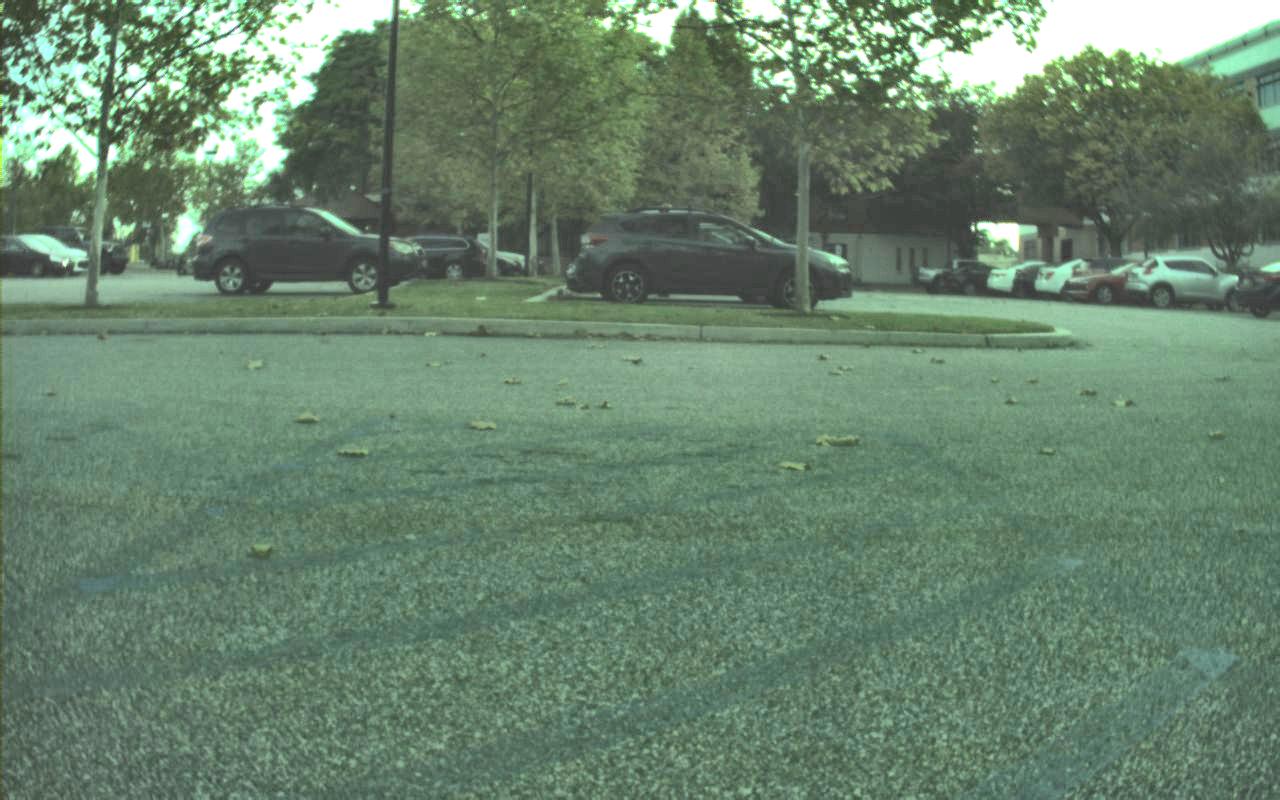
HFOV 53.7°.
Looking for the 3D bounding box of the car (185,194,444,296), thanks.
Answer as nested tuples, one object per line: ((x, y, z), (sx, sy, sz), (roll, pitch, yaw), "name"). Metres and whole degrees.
((-6.190, -2.880, 23.232), (4.695, 1.713, 2.005), (0, 1, -1), "car")

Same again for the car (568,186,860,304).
((1.126, -2.457, 20.302), (4.528, 1.682, 1.953), (0, 1, -3), "car")

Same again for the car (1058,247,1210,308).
((15.157, -3.664, 36.293), (4.518, 1.631, 1.974), (1, 1, 3), "car")

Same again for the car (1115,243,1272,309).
((16.044, -3.475, 33.607), (4.451, 1.642, 1.943), (1, 1, 3), "car")

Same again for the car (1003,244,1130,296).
((15.660, -4.690, 44.277), (4.492, 1.664, 1.998), (1, 1, 4), "car")
